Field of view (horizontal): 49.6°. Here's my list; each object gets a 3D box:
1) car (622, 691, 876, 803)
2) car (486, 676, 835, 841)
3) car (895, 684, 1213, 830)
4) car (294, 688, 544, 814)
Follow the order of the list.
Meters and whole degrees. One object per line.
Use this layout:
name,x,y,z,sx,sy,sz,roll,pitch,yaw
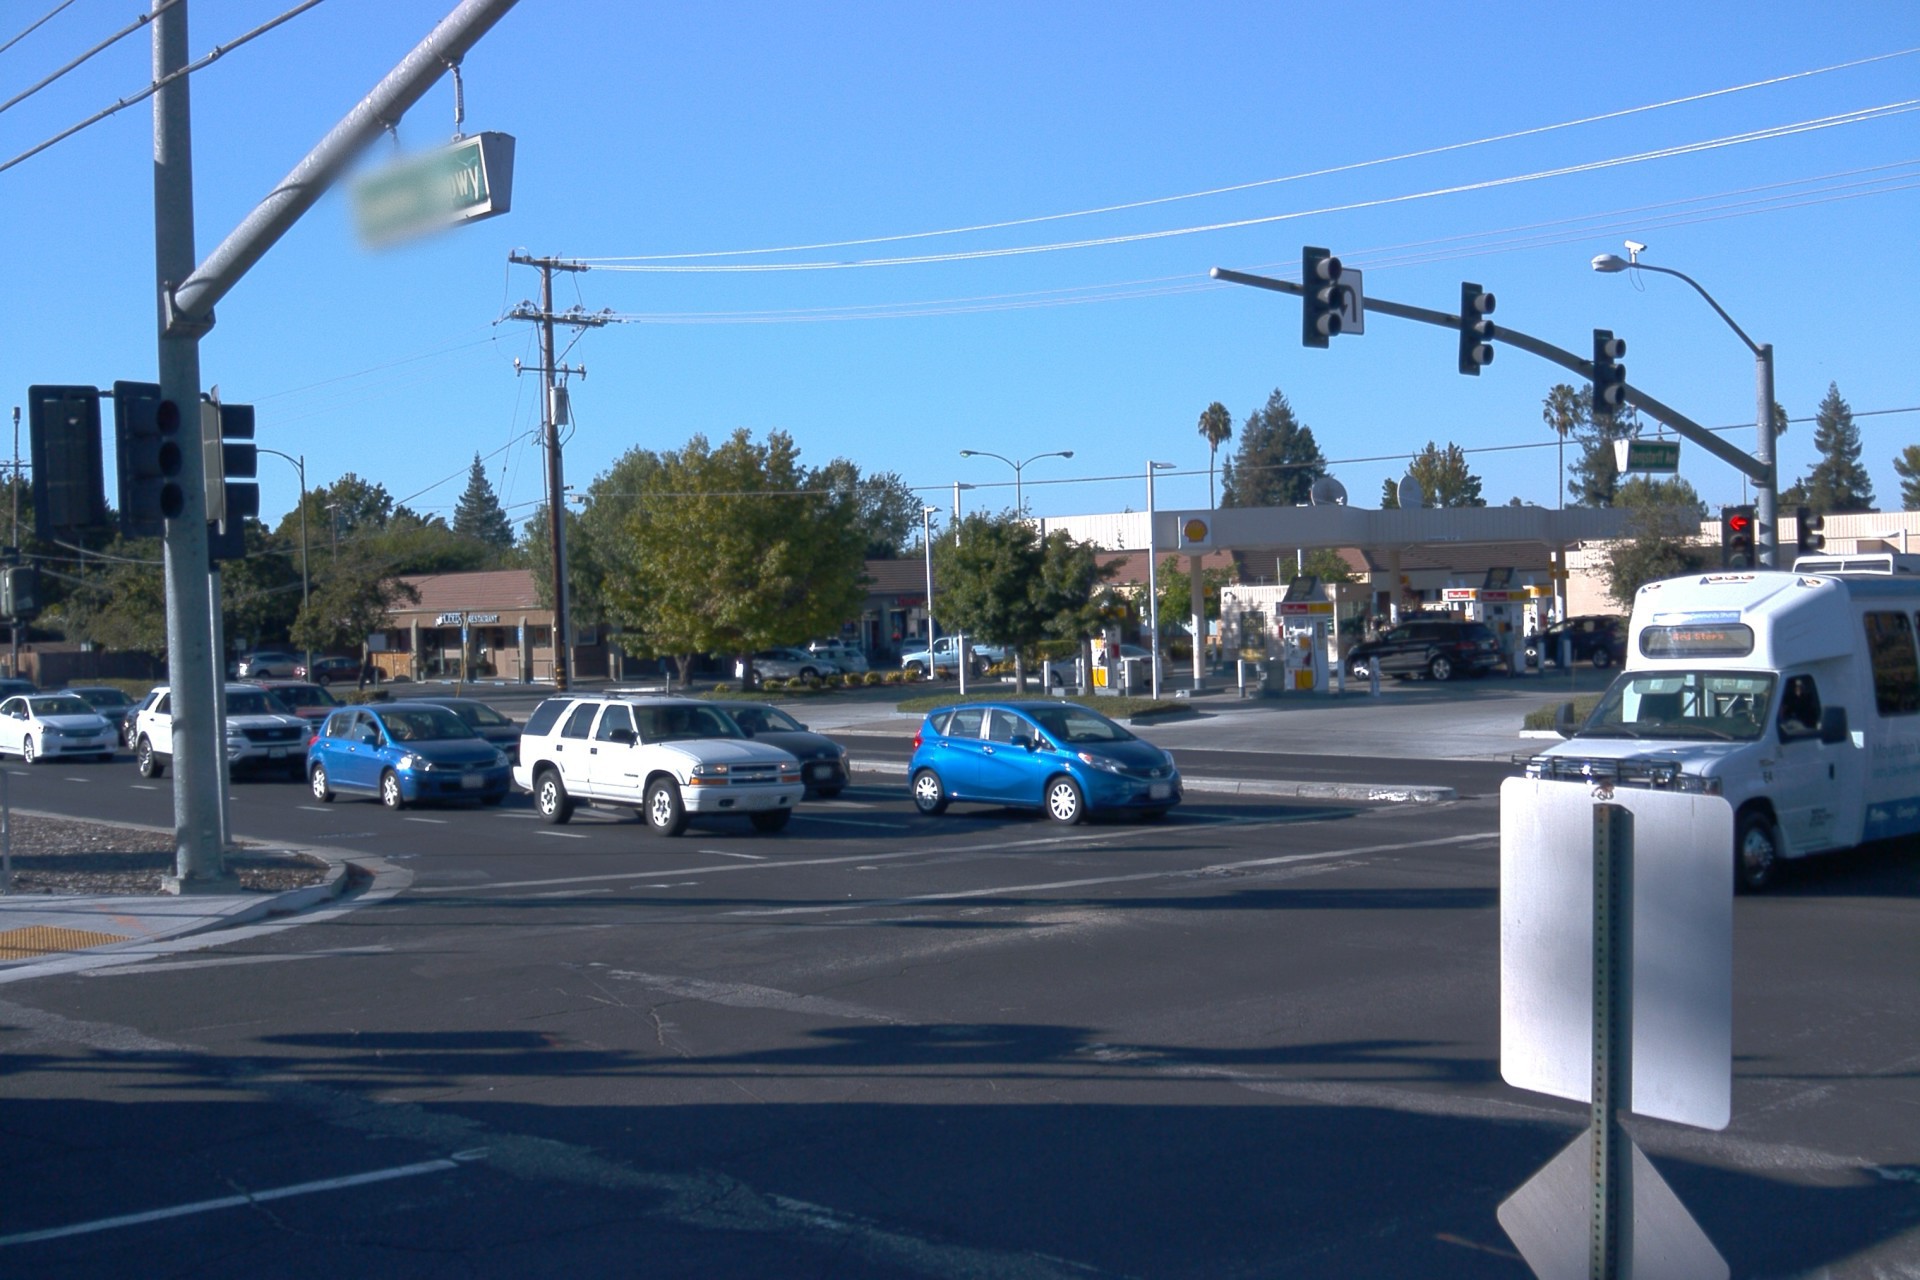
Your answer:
car,-3.314,1.594,32.016,1.820,1.520,4.190,1,0,-40
car,-3.889,1.399,26.333,2.109,1.830,4.847,1,0,-40
car,1.147,1.448,26.991,1.793,1.670,4.087,1,-1,-41
car,-8.241,1.608,31.419,2.086,1.670,4.293,1,0,-39
